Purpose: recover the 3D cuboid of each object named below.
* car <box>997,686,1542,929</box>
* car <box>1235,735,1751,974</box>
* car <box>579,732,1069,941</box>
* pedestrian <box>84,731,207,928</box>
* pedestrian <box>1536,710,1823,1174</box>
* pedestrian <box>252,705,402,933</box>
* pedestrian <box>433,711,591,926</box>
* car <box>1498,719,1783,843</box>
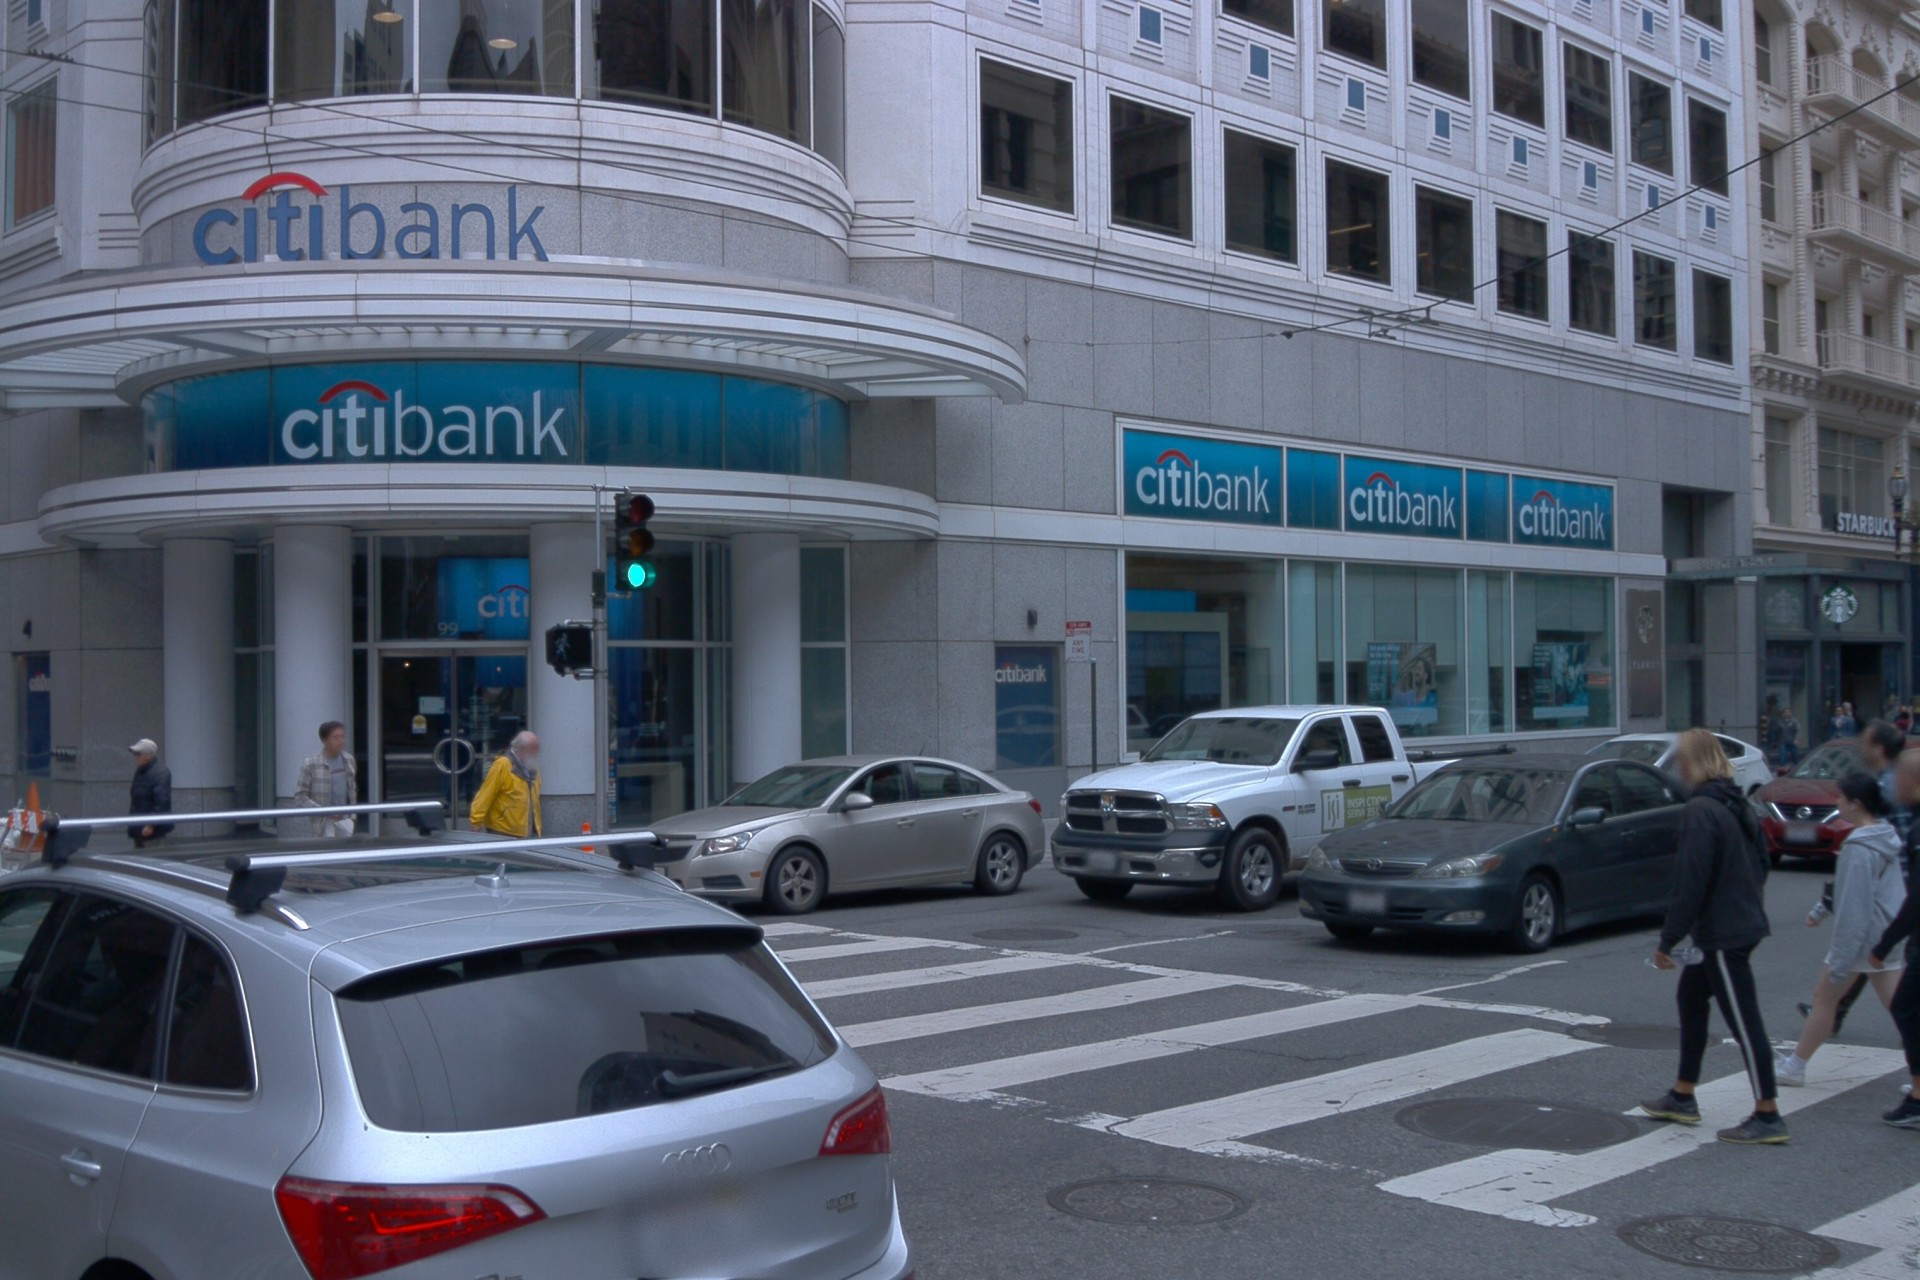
[{"bbox_3d":[3.305,1.530,20.856,5.836,1.990,2.457,0,0,-44],"label":"car"},{"bbox_3d":[4.573,1.644,17.088,2.065,1.470,4.829,0,0,44],"label":"car"},{"bbox_3d":[-1.230,1.811,20.163,2.119,1.590,4.567,0,0,44],"label":"car"},{"bbox_3d":[-7.740,1.775,19.476,0.796,1.760,0.800,0,0,40],"label":"pedestrian"},{"bbox_3d":[3.322,1.322,9.461,1.032,1.950,0.796,0,0,40],"label":"pedestrian"},{"bbox_3d":[-5.695,1.572,18.420,0.823,1.920,1.197,0,0,-45],"label":"pedestrian"},{"bbox_3d":[-4.099,1.594,18.734,1.223,1.840,0.834,0,0,40],"label":"pedestrian"},{"bbox_3d":[10.409,2.079,31.217,4.408,1.570,2.095,0,0,-40],"label":"car"}]
